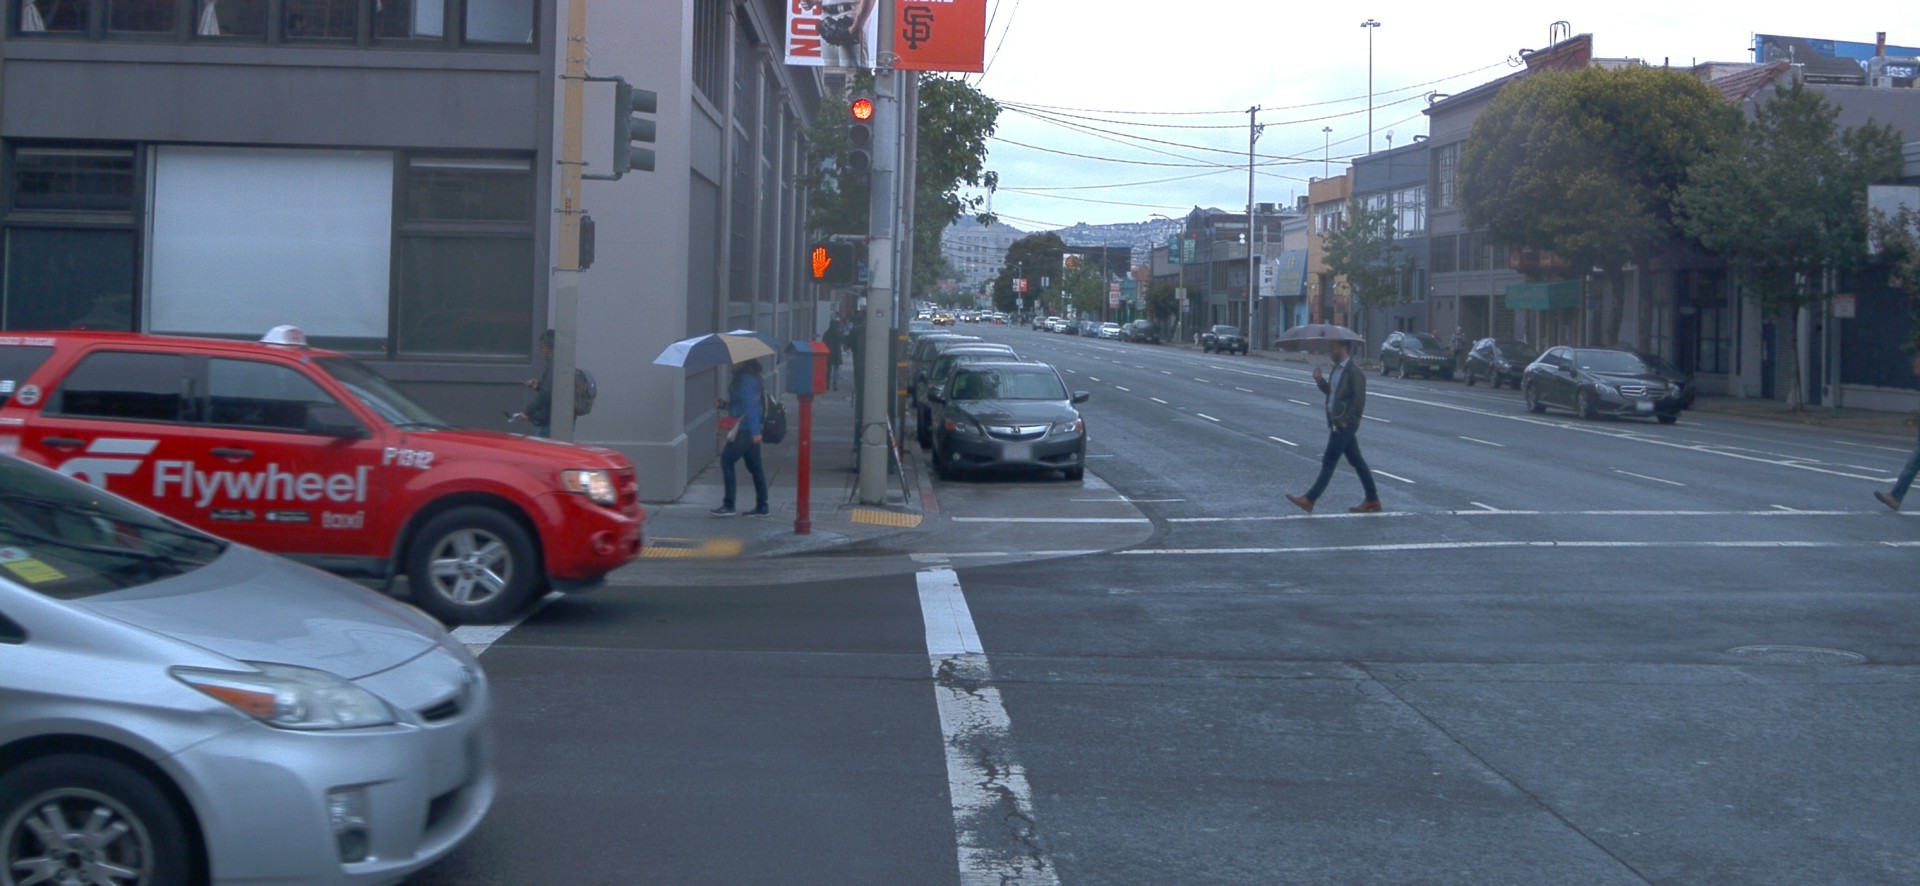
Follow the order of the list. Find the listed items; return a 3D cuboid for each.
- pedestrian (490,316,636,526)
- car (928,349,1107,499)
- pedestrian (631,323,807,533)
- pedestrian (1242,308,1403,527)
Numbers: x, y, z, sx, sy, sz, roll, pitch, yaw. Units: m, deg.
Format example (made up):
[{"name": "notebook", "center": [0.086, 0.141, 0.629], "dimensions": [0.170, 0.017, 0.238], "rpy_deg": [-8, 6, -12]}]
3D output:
[{"name": "pedestrian", "center": [-3.626, -0.228, 19.053], "dimensions": [1.131, 1.819, 1.033], "rpy_deg": [0, 1, 1]}, {"name": "car", "center": [0.626, -0.317, 26.064], "dimensions": [2.020, 1.454, 4.437], "rpy_deg": [0, 5, -1]}, {"name": "pedestrian", "center": [-2.235, -0.178, 19.507], "dimensions": [1.572, 1.829, 1.365], "rpy_deg": [0, 2, -3]}, {"name": "pedestrian", "center": [3.620, -0.293, 20.829], "dimensions": [1.284, 2.082, 1.185], "rpy_deg": [0, 2, -8]}]
